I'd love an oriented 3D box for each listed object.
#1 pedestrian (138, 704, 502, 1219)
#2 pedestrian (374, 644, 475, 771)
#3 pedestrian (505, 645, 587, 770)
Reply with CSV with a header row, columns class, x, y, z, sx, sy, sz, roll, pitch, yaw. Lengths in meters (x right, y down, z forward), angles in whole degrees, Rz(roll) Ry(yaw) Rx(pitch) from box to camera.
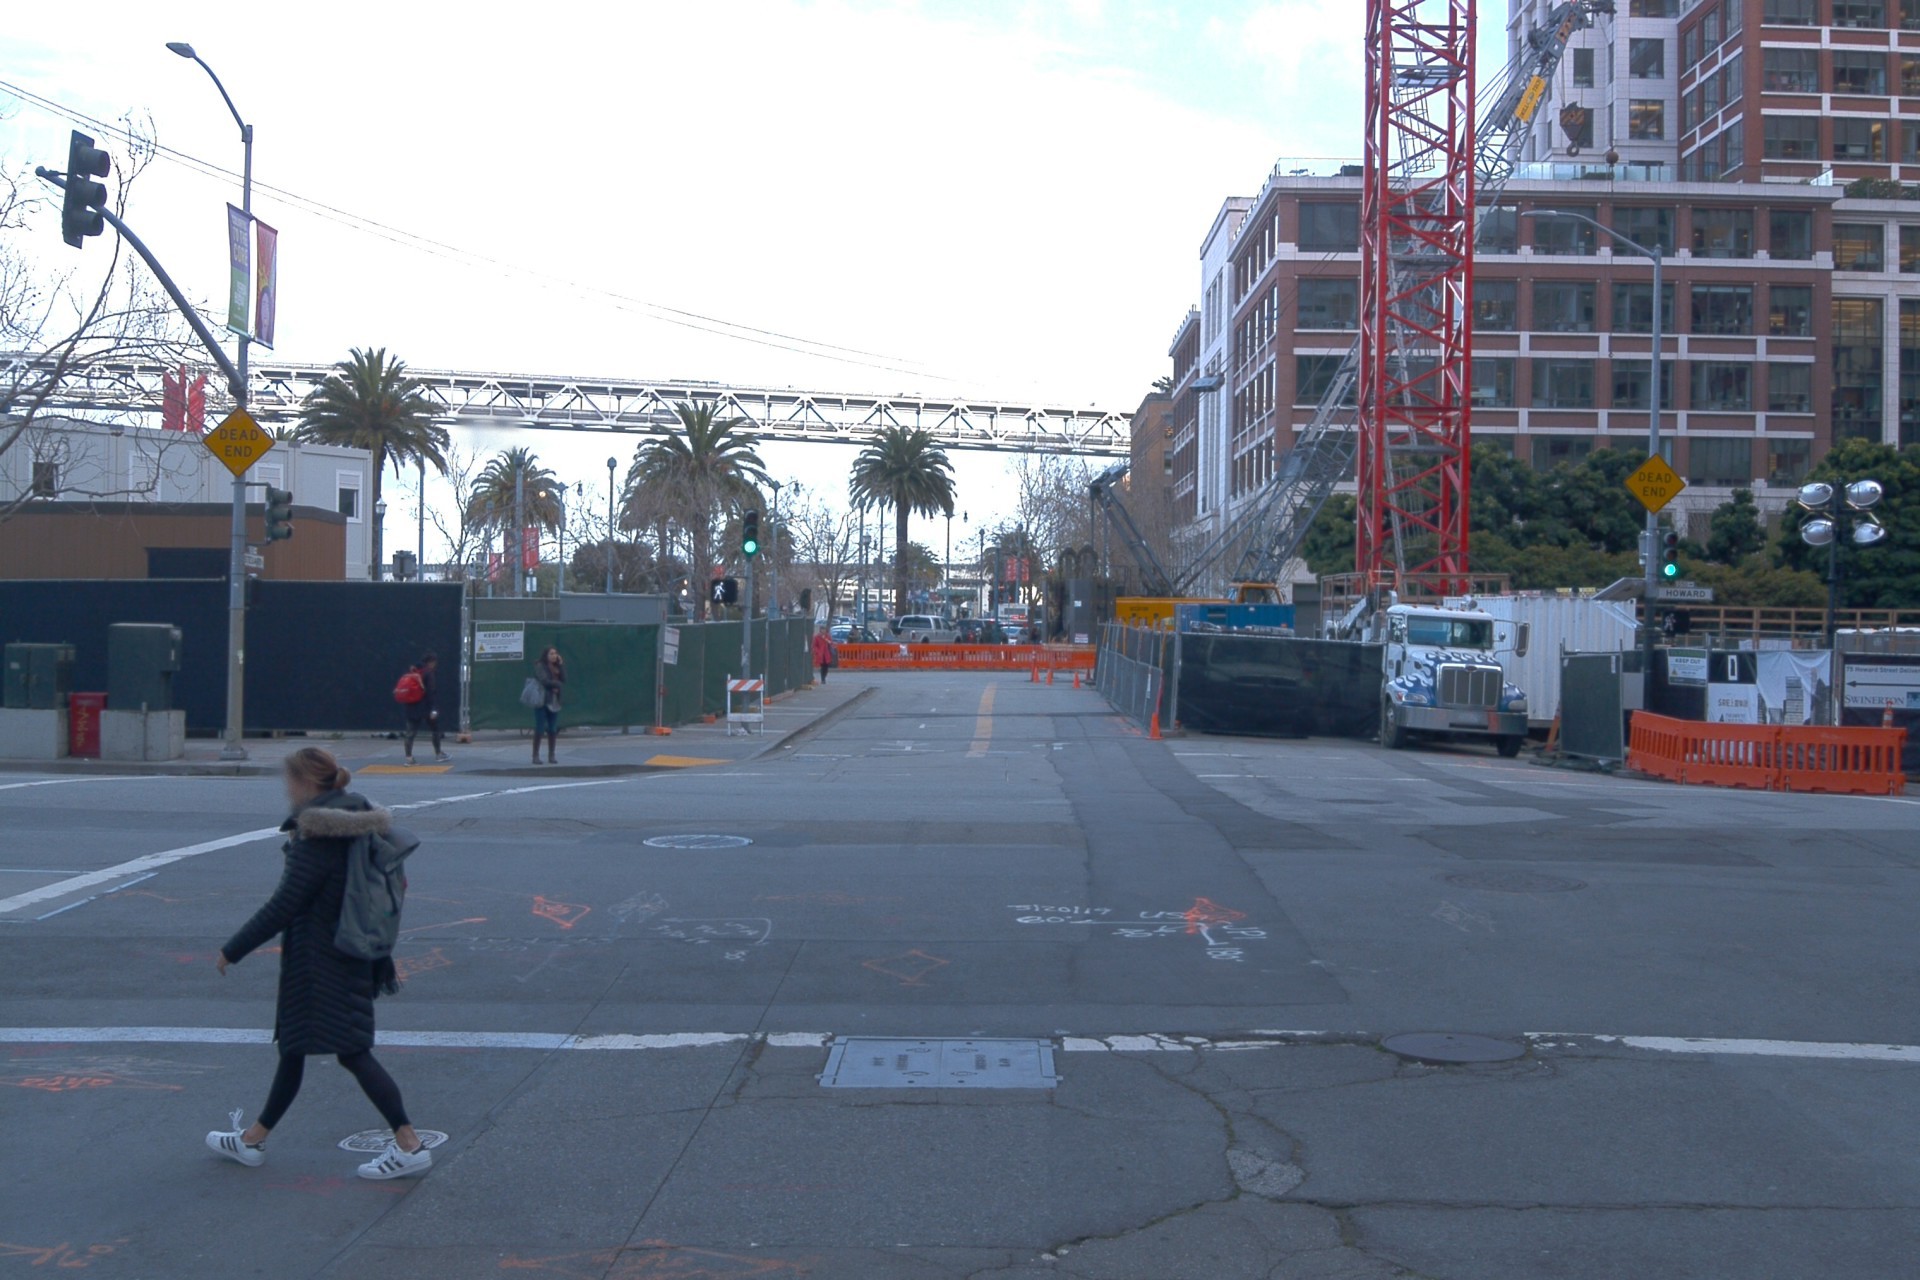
class,x,y,z,sx,sy,sz,roll,pitch,yaw
pedestrian,-2.411,1.169,7.803,1.088,1.810,0.806,1,0,5
pedestrian,-7.659,0.941,29.263,0.772,1.760,1.195,1,0,29
pedestrian,-5.868,0.937,29.016,0.847,1.720,1.092,1,0,6
